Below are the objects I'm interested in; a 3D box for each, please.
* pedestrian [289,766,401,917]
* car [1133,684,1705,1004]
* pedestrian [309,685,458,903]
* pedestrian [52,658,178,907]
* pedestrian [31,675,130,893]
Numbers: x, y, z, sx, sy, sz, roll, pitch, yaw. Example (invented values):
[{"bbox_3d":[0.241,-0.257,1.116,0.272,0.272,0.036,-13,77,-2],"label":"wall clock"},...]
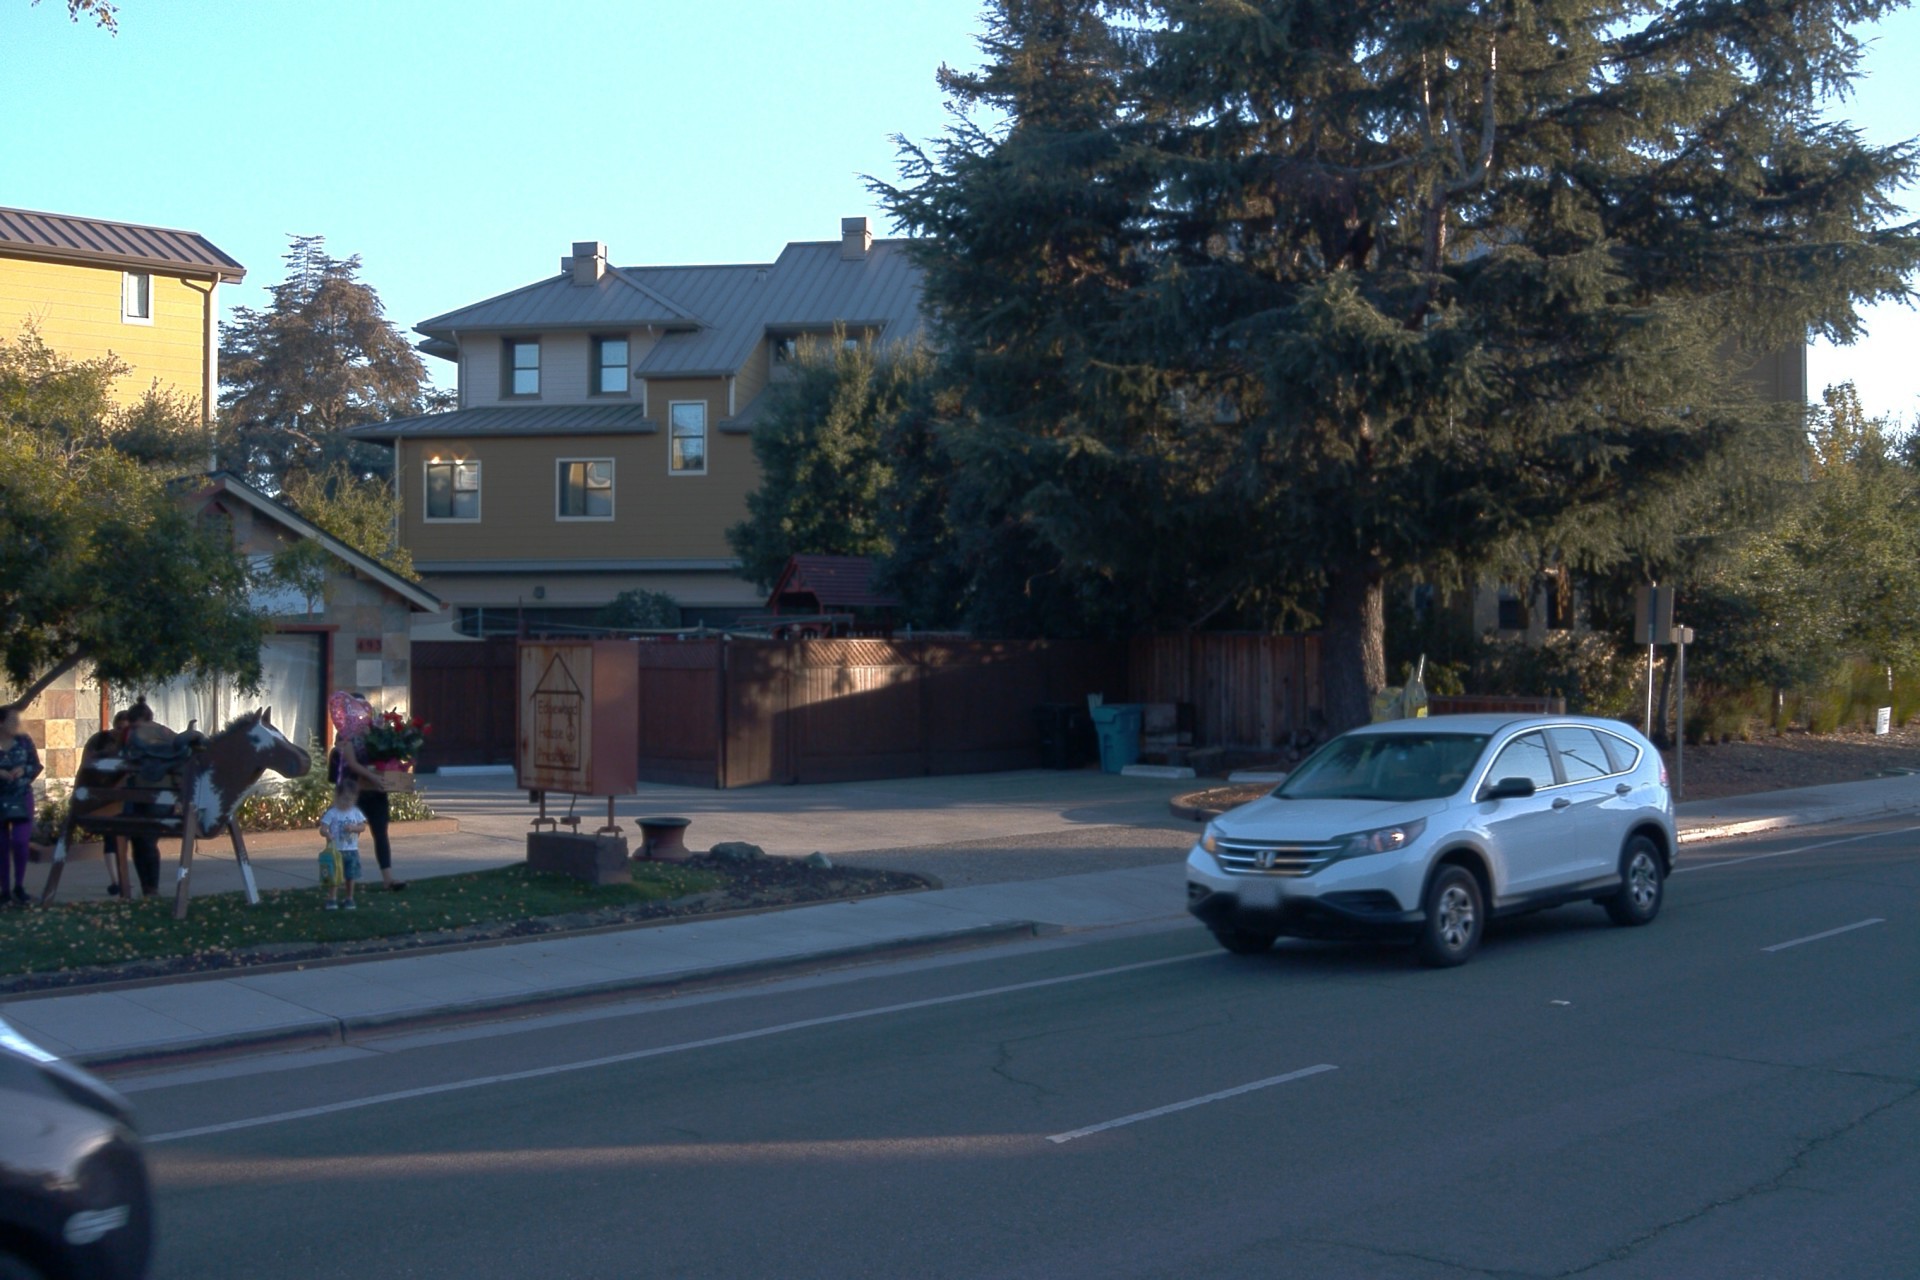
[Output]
[{"bbox_3d":[-4.510,1.461,15.186,0.628,1.010,0.632,0,0,-33],"label":"pedestrian"},{"bbox_3d":[3.498,1.314,15.170,1.922,1.850,4.652,0,0,44],"label":"car"},{"bbox_3d":[-4.551,1.182,16.343,0.736,1.630,0.992,0,0,-44],"label":"pedestrian"},{"bbox_3d":[-6.688,1.101,16.440,0.802,1.900,0.786,0,0,-14],"label":"pedestrian"},{"bbox_3d":[-7.634,1.221,17.978,0.752,1.810,0.813,0,0,-25],"label":"pedestrian"}]
